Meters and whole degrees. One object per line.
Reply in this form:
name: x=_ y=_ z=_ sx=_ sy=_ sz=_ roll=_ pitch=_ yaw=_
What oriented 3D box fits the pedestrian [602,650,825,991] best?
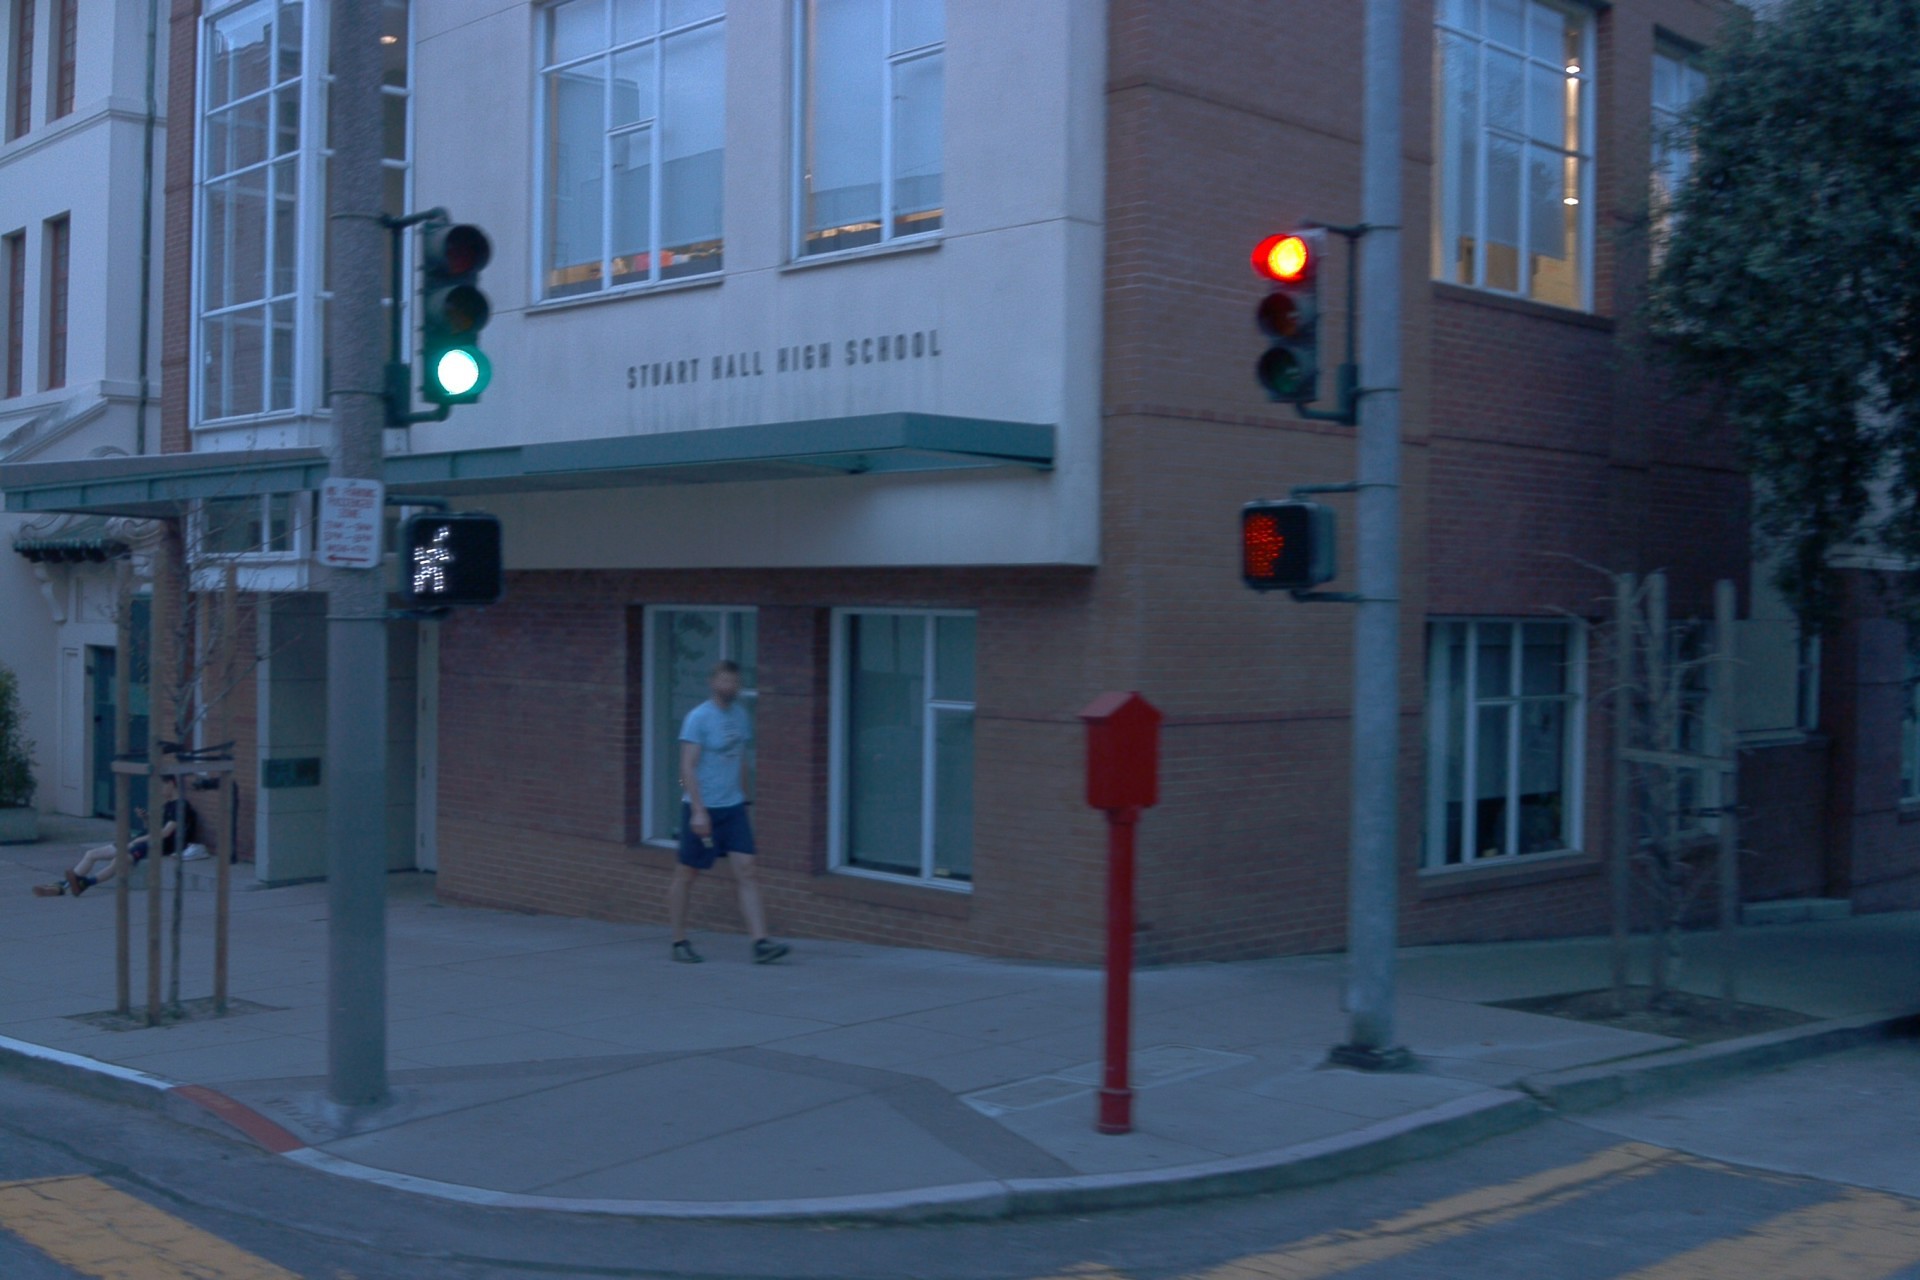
pedestrian: x=-1.570 y=1.087 z=13.049 sx=0.834 sy=2.020 sz=1.187 roll=0 pitch=1 yaw=-45

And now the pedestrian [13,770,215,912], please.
pedestrian: x=-8.310 y=1.948 z=20.231 sx=1.091 sy=1.200 sz=1.523 roll=1 pitch=1 yaw=44
